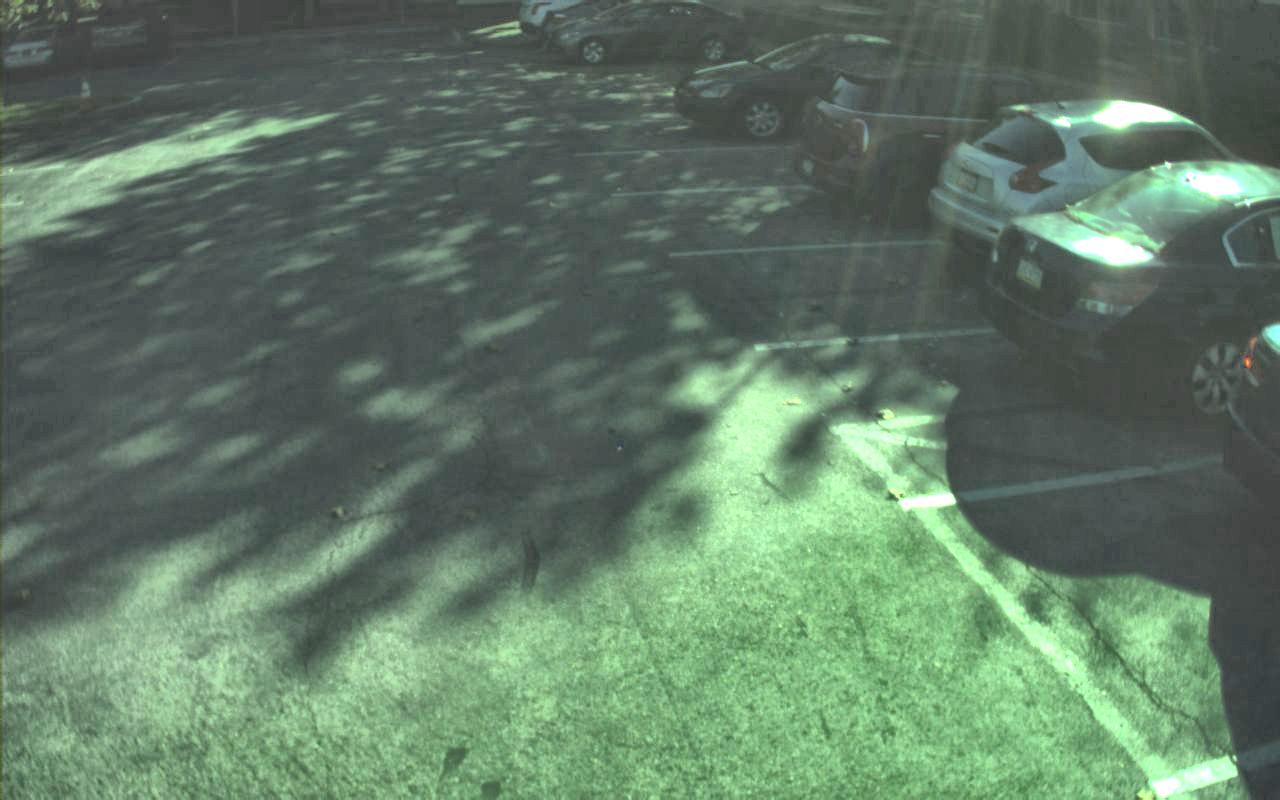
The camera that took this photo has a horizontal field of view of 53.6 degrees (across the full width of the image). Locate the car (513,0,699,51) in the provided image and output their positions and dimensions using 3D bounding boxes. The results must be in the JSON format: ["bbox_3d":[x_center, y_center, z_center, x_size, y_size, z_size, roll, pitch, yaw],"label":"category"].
[{"bbox_3d":[-0.917,-9.930,31.717,4.485,1.657,1.968,-6,17,-15],"label":"car"}]

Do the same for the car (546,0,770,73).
[{"bbox_3d":[0.354,-8.108,27.219,4.663,1.591,1.994,-4,17,-11],"label":"car"}]

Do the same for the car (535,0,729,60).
[{"bbox_3d":[-0.226,-8.990,29.458,4.322,1.566,1.927,-5,17,-14],"label":"car"}]

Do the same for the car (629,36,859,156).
[{"bbox_3d":[1.421,-4.691,18.666,1.945,1.567,4.543,-6,17,-16],"label":"car"}]

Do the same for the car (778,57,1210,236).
[{"bbox_3d":[3.886,-2.799,12.954,4.462,1.629,1.950,-5,17,-14],"label":"car"}]

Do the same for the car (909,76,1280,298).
[{"bbox_3d":[4.663,-1.981,10.452,4.246,1.591,1.900,-5,17,-13],"label":"car"}]

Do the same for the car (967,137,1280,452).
[{"bbox_3d":[4.628,-0.880,7.835,4.469,1.579,1.955,-4,16,-9],"label":"car"}]
